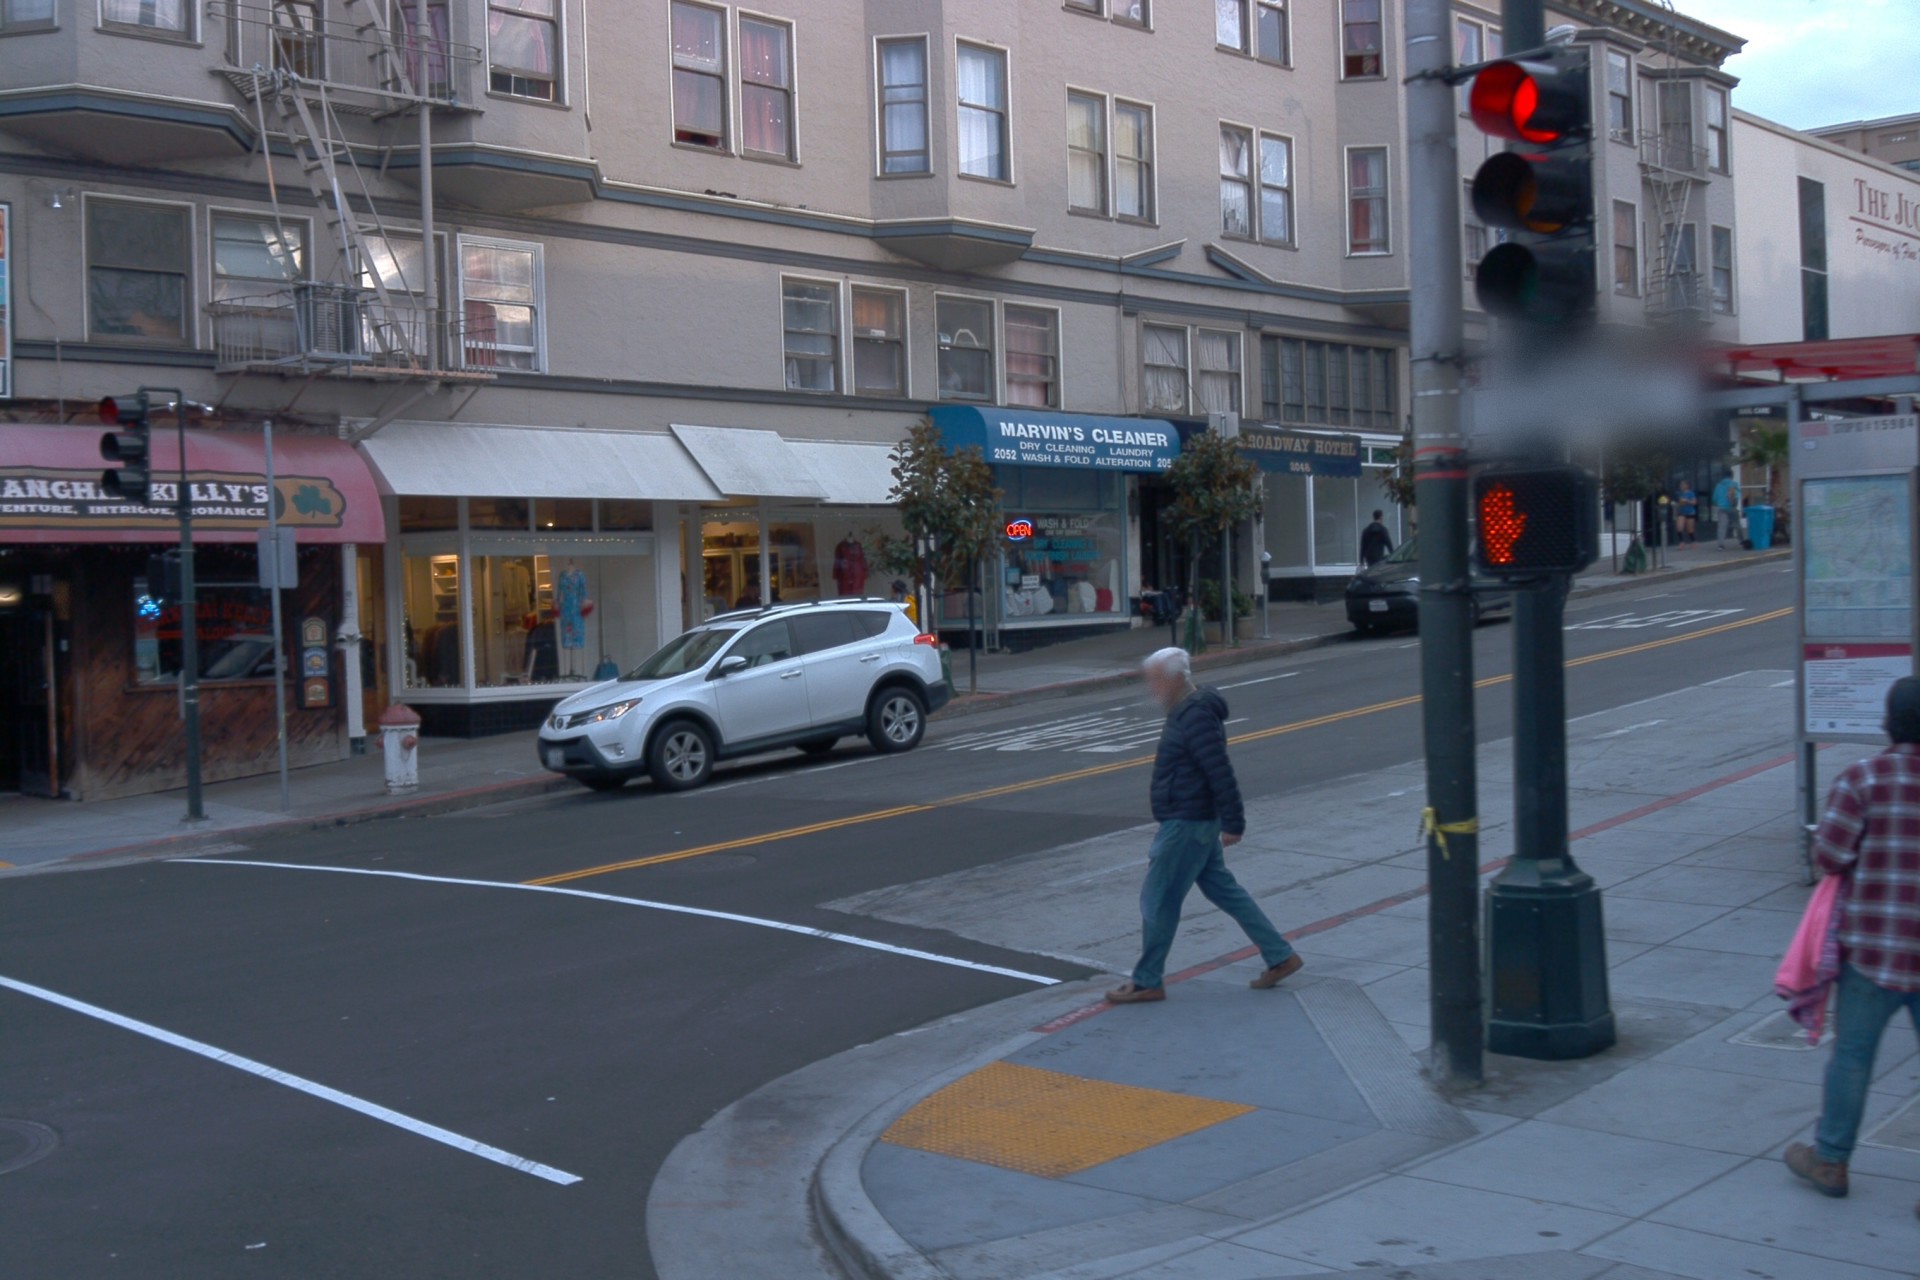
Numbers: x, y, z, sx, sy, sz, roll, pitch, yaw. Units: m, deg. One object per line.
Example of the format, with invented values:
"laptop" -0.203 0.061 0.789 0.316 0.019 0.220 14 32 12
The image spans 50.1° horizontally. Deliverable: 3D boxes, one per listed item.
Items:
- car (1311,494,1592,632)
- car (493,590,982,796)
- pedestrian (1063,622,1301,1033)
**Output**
"car" 7.832 -1.143 32.566 4.424 2.000 2.160 0 0 -42
"car" -2.268 0.497 21.497 4.556 1.930 2.267 0 0 -38
"pedestrian" 1.103 0.864 10.031 1.081 1.890 0.894 1 0 10
